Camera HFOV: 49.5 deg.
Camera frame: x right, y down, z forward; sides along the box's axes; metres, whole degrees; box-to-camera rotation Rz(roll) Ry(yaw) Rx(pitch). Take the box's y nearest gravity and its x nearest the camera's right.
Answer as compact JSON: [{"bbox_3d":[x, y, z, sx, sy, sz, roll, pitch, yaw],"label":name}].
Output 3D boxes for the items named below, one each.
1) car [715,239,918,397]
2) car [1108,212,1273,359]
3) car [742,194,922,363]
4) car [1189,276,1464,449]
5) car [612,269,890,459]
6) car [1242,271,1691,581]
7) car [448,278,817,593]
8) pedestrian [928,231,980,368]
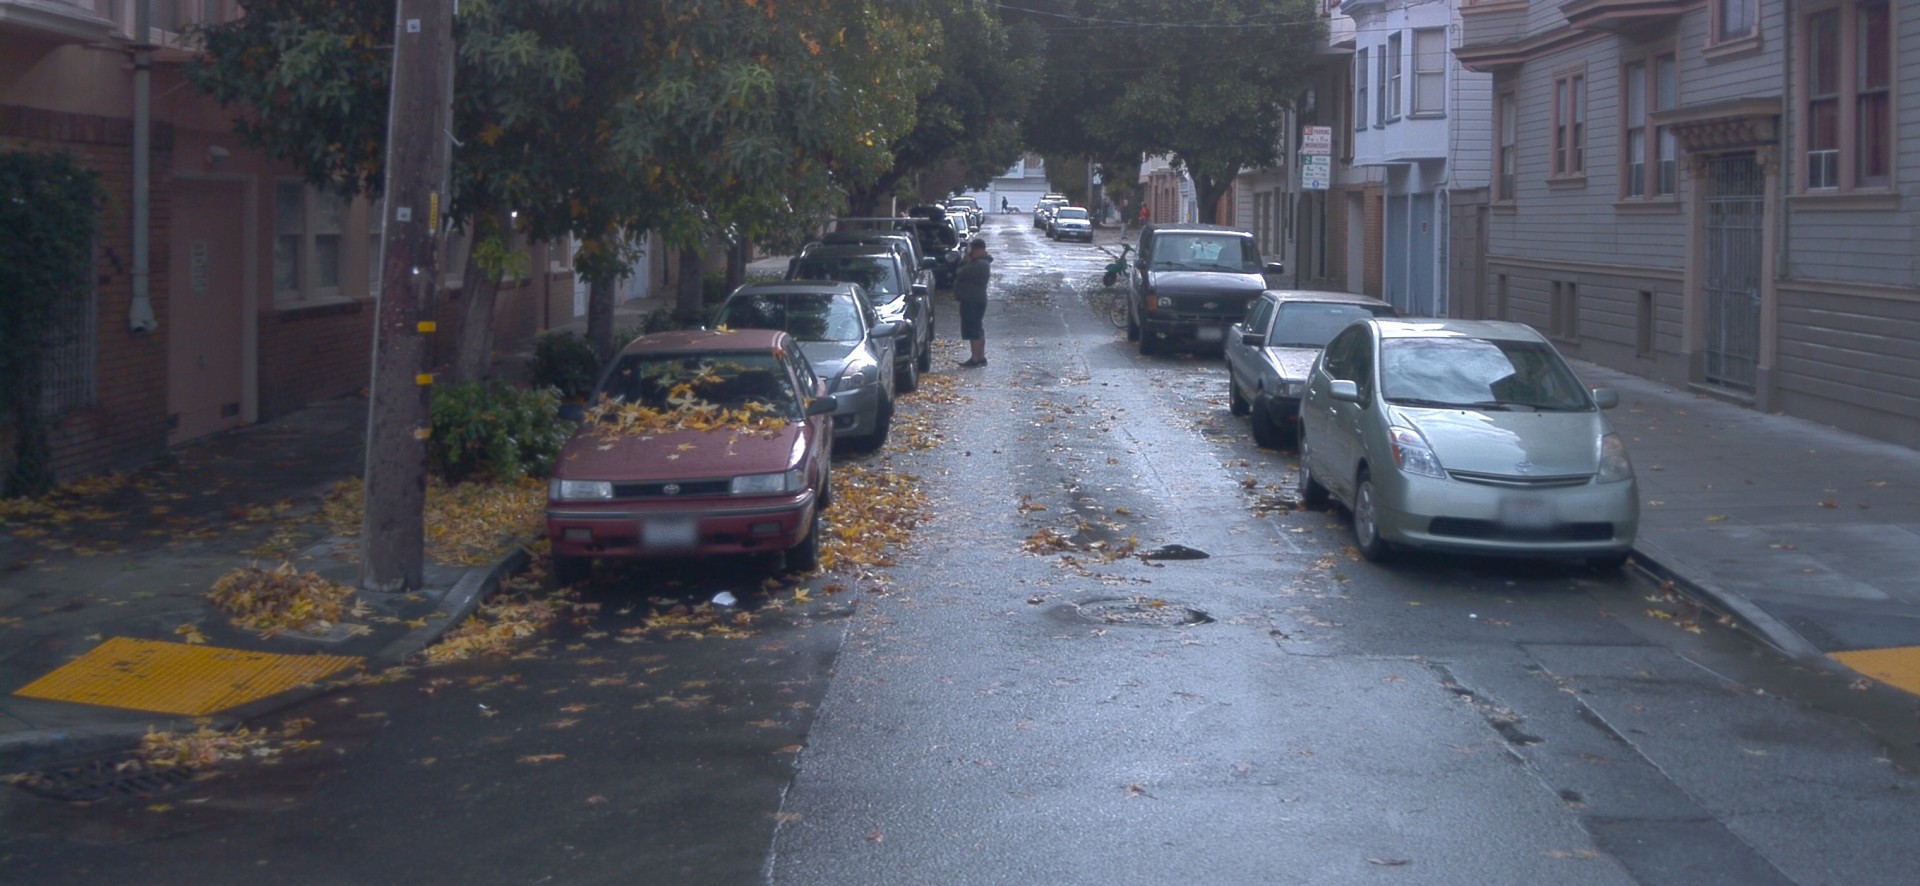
[{"bbox_3d":[-1.631,-1.582,25.094,2.026,1.724,4.091,1,5,2],"label":"car"},{"bbox_3d":[3.351,-2.390,30.996,2.060,2.024,4.180,1,4,1],"label":"car"},{"bbox_3d":[-1.729,-2.439,30.188,2.178,2.192,5.776,0,5,1],"label":"car"},{"bbox_3d":[3.479,-0.889,20.603,1.964,1.434,4.482,0,5,0],"label":"car"},{"bbox_3d":[-1.829,-0.858,19.746,2.038,1.514,4.651,1,5,1],"label":"car"},{"bbox_3d":[3.311,-0.284,14.582,2.057,1.754,4.496,0,5,0],"label":"car"},{"bbox_3d":[-1.966,-0.211,13.741,1.865,1.664,4.357,0,5,-2],"label":"car"},{"bbox_3d":[-0.077,-1.903,27.487,0.656,1.790,0.630,0,1,0],"label":"pedestrian"}]
